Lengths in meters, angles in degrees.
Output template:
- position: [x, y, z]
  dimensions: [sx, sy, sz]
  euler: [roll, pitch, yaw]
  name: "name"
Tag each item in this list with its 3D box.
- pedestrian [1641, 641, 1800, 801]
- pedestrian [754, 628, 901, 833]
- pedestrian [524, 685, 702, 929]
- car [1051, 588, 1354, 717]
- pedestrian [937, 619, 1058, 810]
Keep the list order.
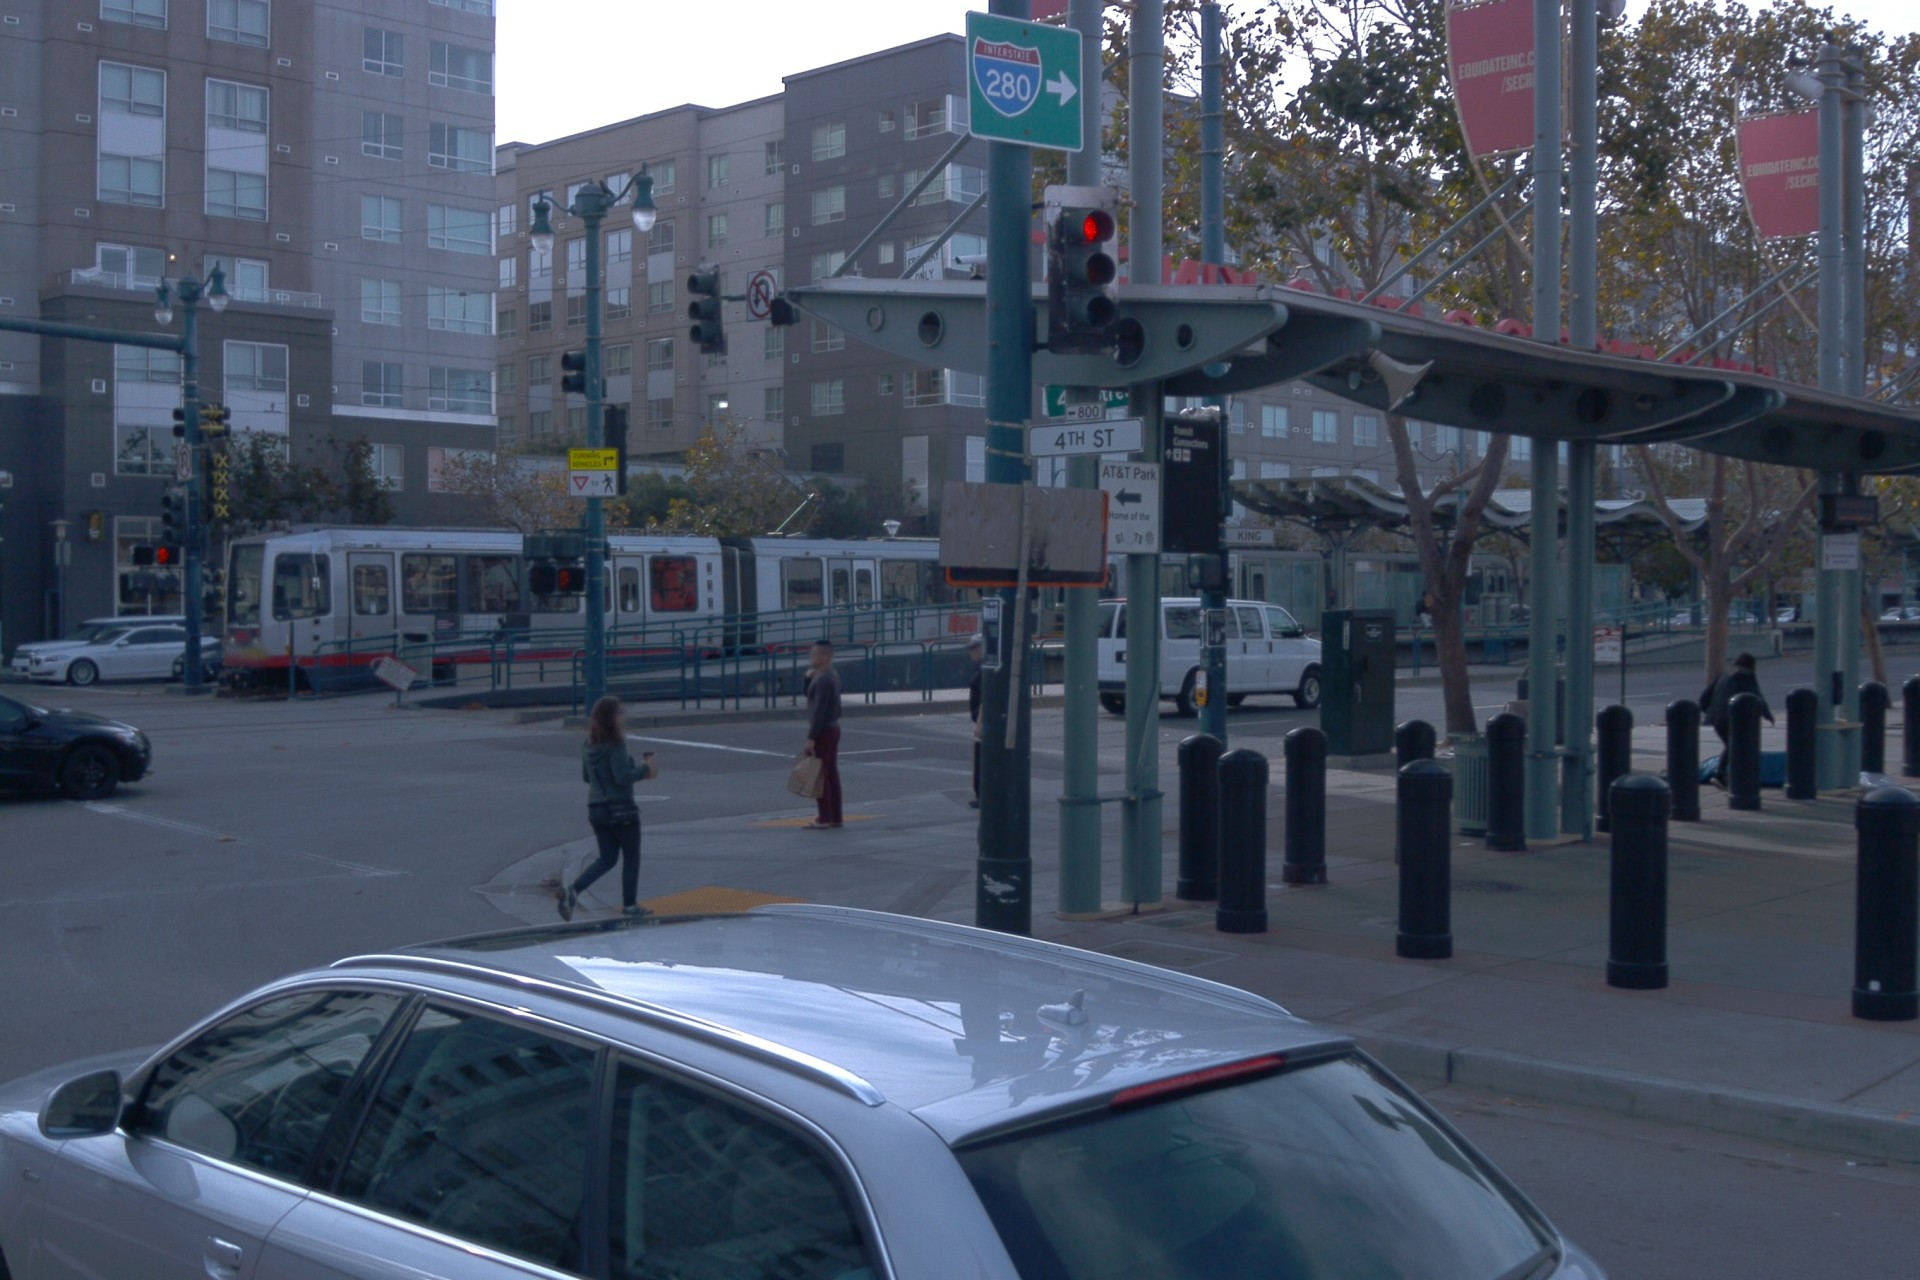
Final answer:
- position: [7.975, 0.822, 21.698]
  dimensions: [1.168, 1.605, 1.218]
  euler: [1, 0, 42]
  name: "pedestrian"
- position: [-1.212, 0.807, 19.046]
  dimensions: [0.980, 1.819, 0.928]
  euler: [1, 0, 28]
  name: "pedestrian"
- position: [-2.460, 1.152, 14.706]
  dimensions: [0.678, 1.642, 1.016]
  euler: [1, 0, 45]
  name: "pedestrian"
- position: [4.575, 0.234, 38.349]
  dimensions: [2.569, 2.200, 5.753]
  euler: [1, 0, 44]
  name: "car"
- position: [0.383, 0.734, 20.824]
  dimensions: [0.867, 1.858, 0.865]
  euler: [1, 0, 31]
  name: "pedestrian"
